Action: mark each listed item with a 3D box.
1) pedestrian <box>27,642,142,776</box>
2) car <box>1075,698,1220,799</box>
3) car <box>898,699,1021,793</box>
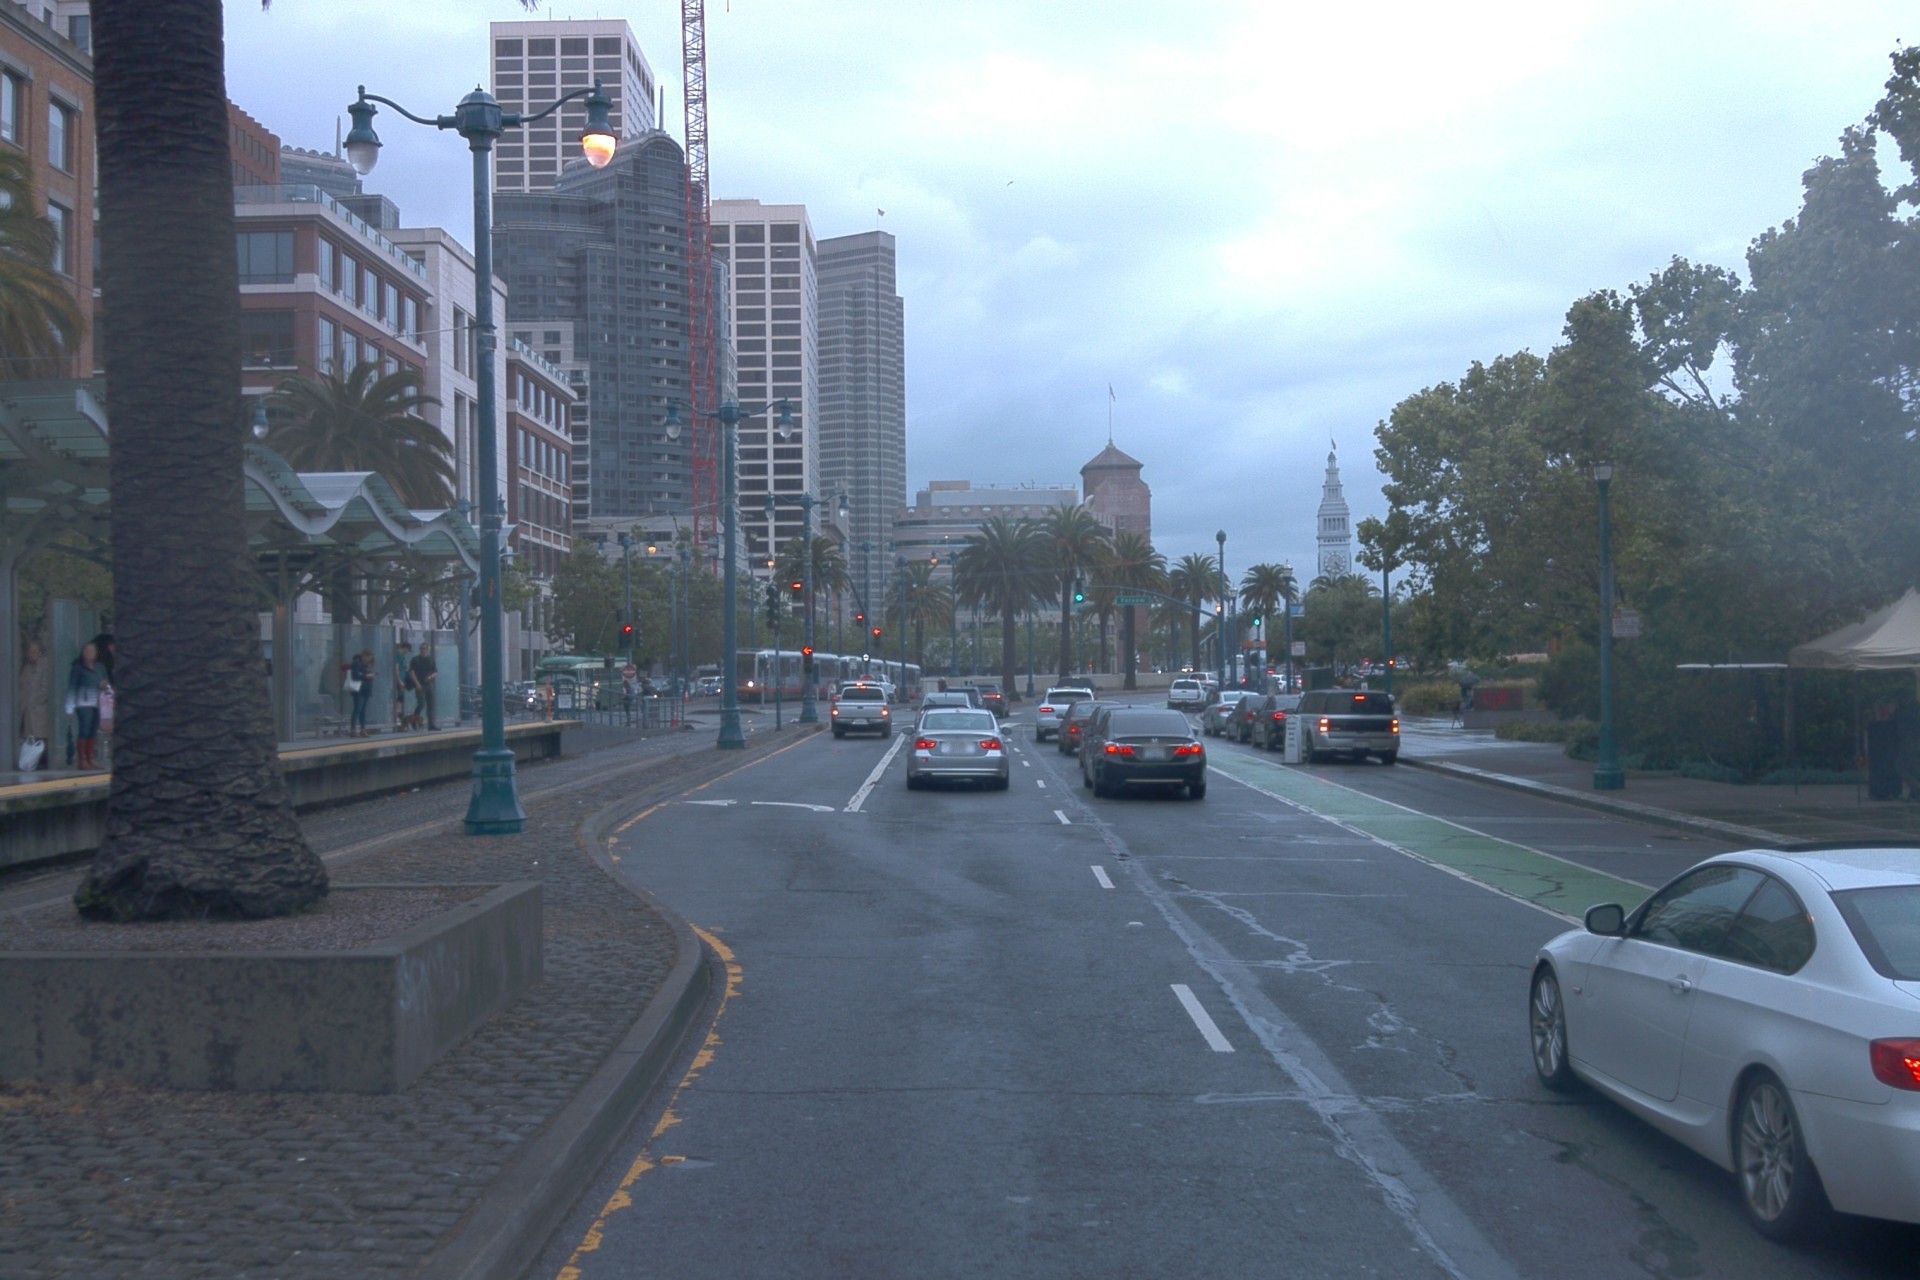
[{"bbox_3d":[-10.664,0.832,25.273,0.878,1.600,0.949,0,-1,24],"label":"pedestrian"},{"bbox_3d":[3.113,1.797,35.317,2.069,1.540,4.627,0,-1,0],"label":"car"},{"bbox_3d":[-0.012,1.848,37.301,2.067,1.510,4.625,0,-1,0],"label":"car"}]
